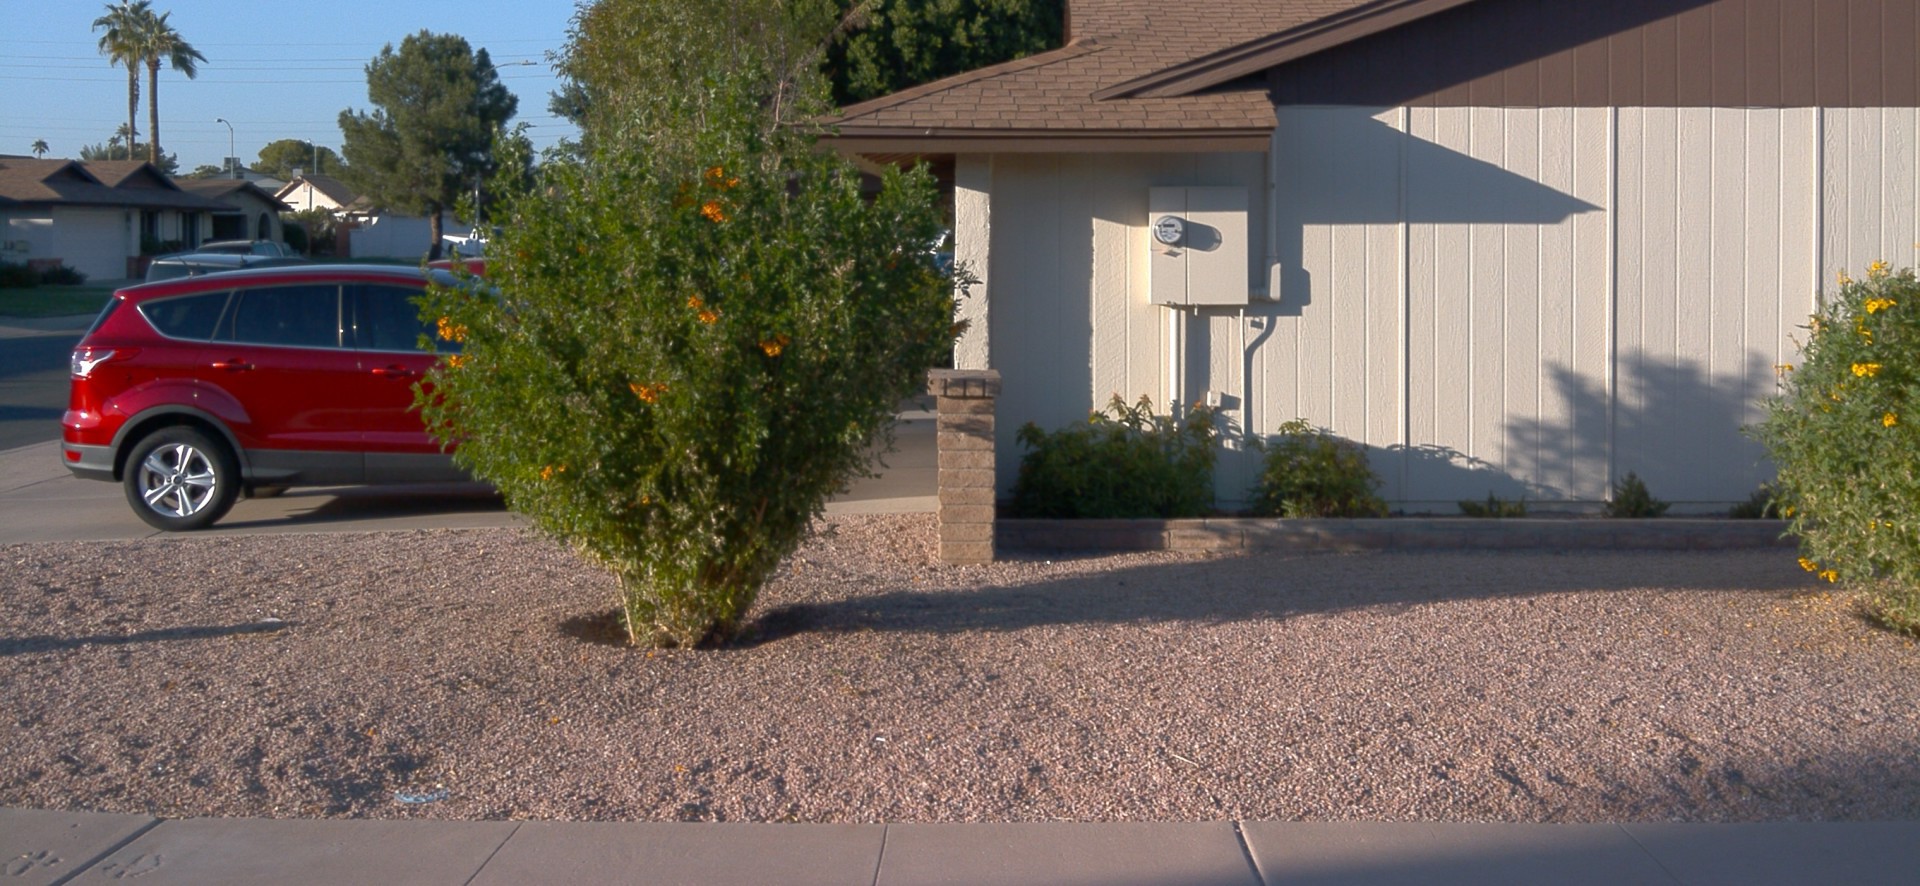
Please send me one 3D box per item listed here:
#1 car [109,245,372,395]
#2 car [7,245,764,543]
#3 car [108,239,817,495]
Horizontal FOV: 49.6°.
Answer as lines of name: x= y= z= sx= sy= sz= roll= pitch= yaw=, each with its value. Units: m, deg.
car: x=-9.560 y=-1.734 z=27.978 sx=1.967 sy=1.802 sz=4.143 roll=0 pitch=5 yaw=2
car: x=-3.681 y=-0.404 z=14.036 sx=4.584 sy=1.825 sz=1.980 roll=0 pitch=4 yaw=-3
car: x=-3.825 y=-0.670 z=16.719 sx=5.203 sy=1.895 sz=2.005 roll=0 pitch=4 yaw=-1
